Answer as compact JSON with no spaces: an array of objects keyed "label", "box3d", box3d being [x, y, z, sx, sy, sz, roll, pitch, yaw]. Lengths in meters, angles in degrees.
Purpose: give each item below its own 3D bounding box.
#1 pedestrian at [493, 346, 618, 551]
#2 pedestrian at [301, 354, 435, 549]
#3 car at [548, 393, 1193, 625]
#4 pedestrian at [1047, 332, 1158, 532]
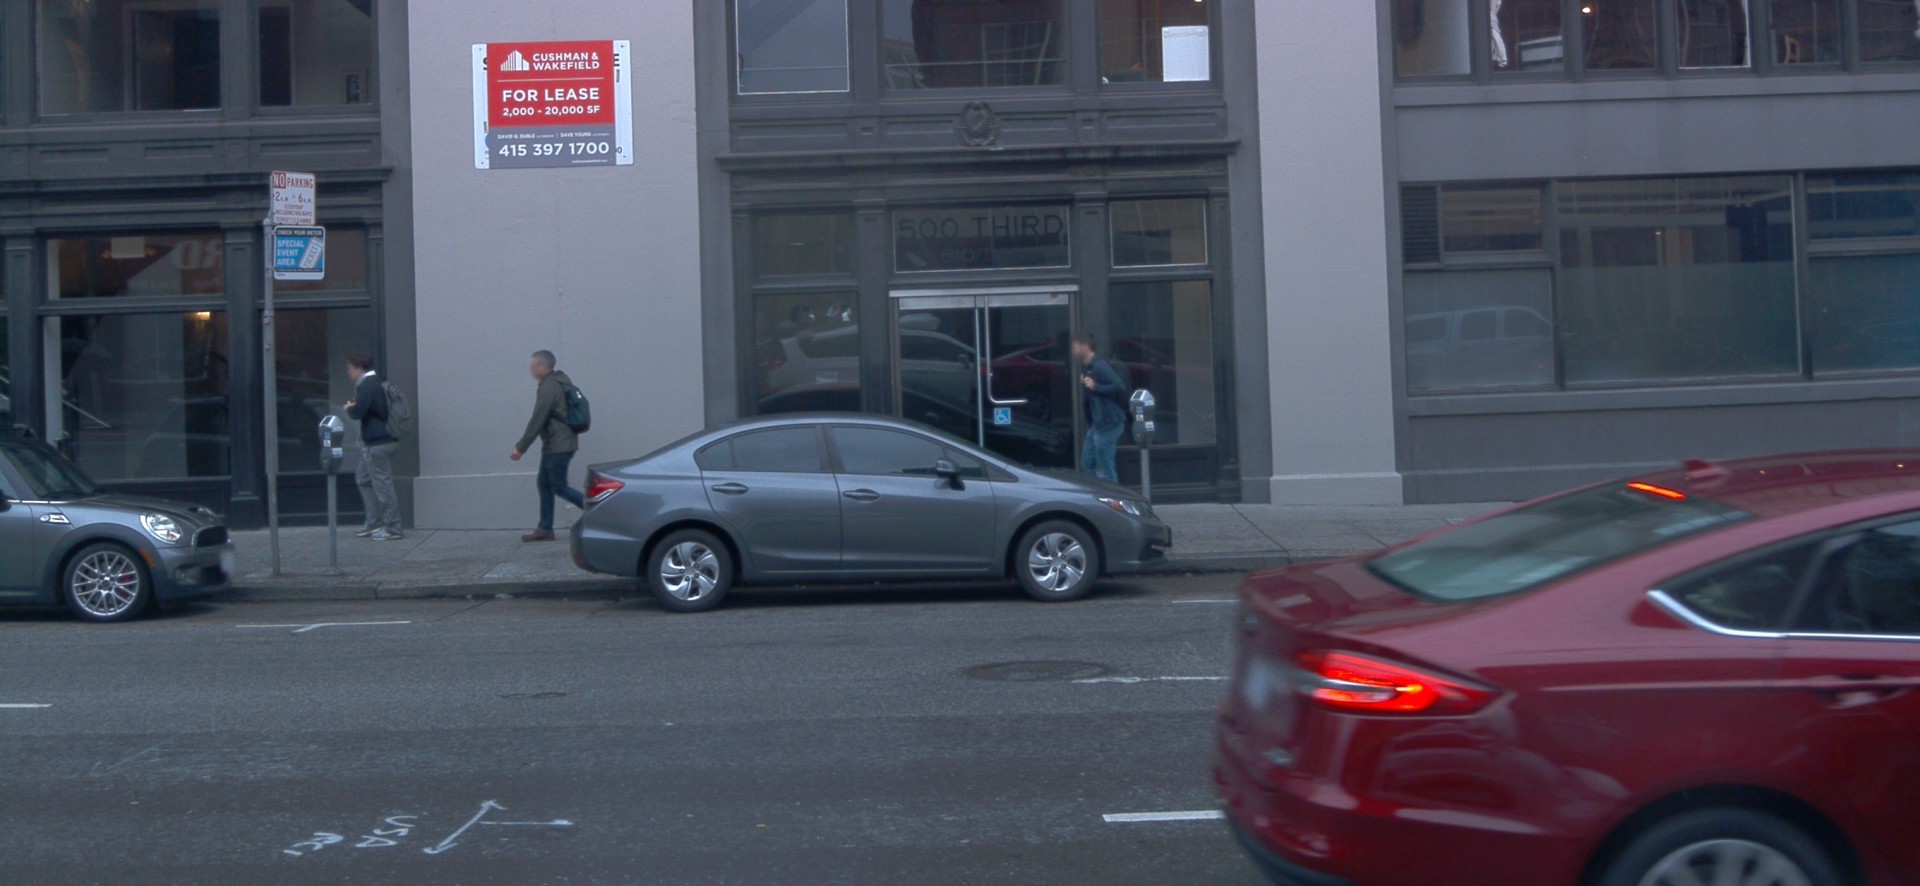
[{"label":"pedestrian","box3d":[-3.724,0.025,19.181,1.010,1.800,0.864,0,1,-2]},{"label":"pedestrian","box3d":[-5.555,0.058,19.500,1.027,1.740,0.850,0,1,-2]},{"label":"car","box3d":[-0.666,0.442,15.874,4.616,1.477,2.025,0,4,-3]},{"label":"pedestrian","box3d":[1.316,-0.123,19.309,0.948,1.770,0.839,0,1,-2]}]
